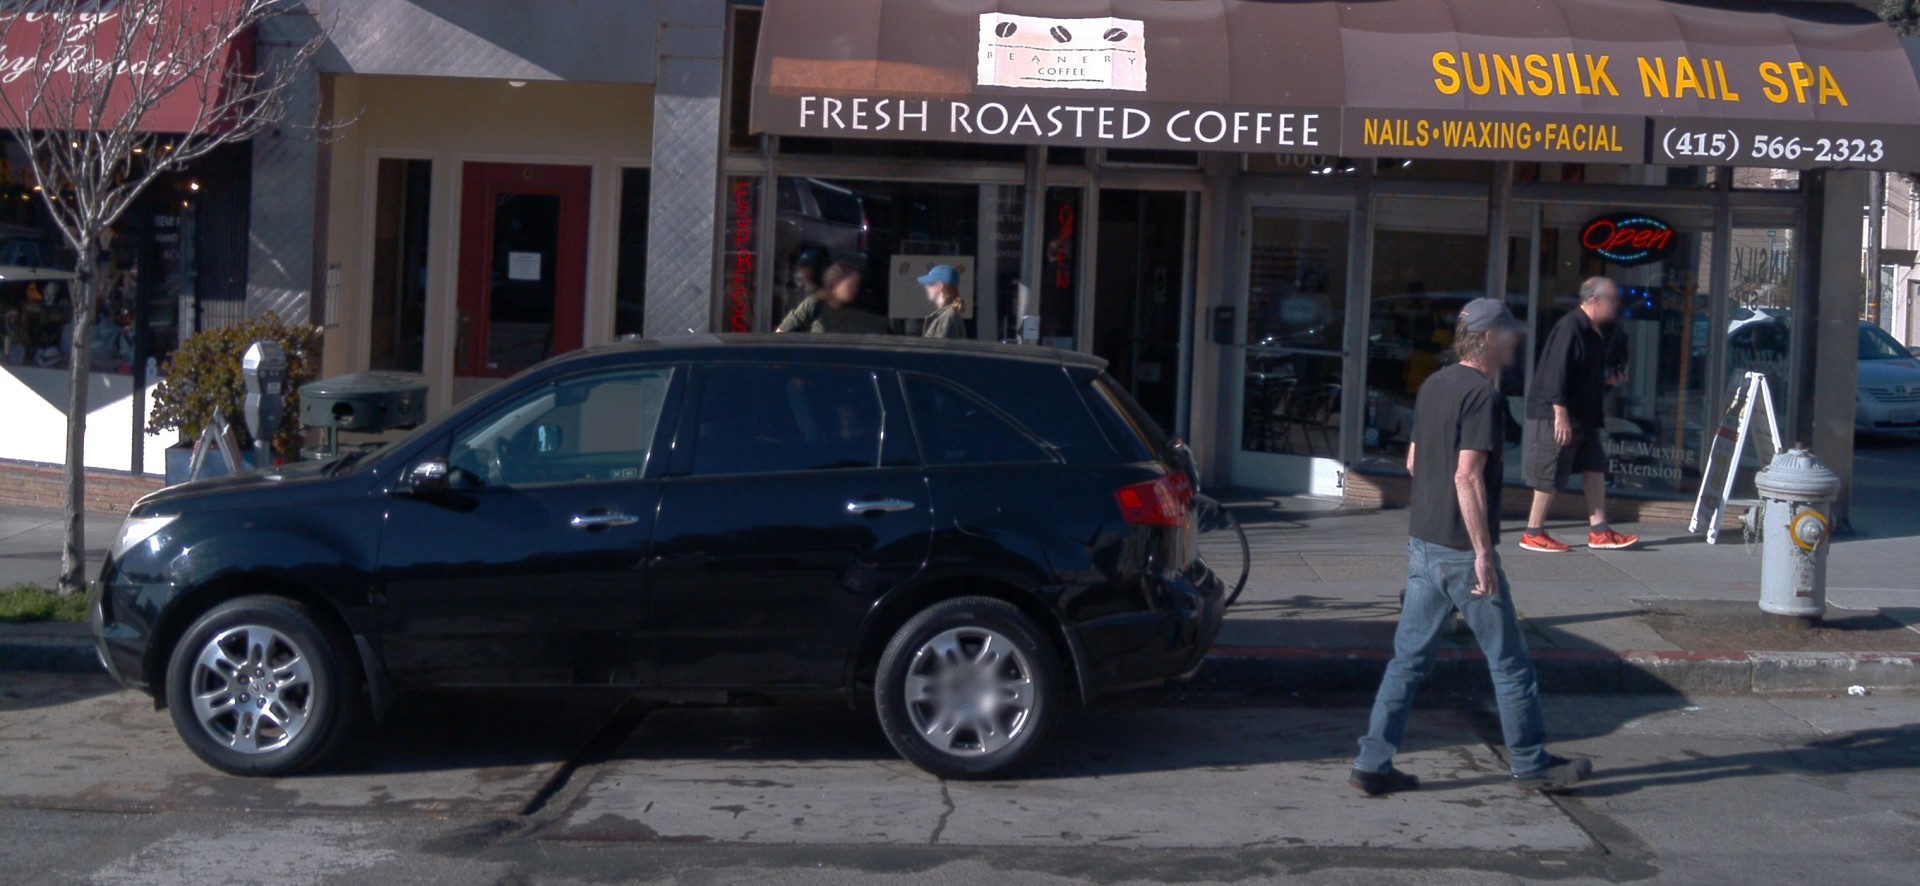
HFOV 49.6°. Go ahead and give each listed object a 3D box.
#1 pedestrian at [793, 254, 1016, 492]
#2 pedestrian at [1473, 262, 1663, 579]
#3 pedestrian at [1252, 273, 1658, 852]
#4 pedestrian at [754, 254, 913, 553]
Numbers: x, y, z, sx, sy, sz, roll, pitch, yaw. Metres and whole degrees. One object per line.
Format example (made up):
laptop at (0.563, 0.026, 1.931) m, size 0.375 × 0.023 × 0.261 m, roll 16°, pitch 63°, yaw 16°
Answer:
pedestrian at (-0.341, -0.485, 13.588) m, size 1.342 × 1.457 × 0.879 m, roll 1°, pitch 3°, yaw 4°
pedestrian at (3.799, -0.178, 13.043) m, size 0.936 × 1.876 × 0.932 m, roll 1°, pitch 2°, yaw 3°
pedestrian at (1.865, 0.373, 7.907) m, size 1.201 × 2.006 × 0.870 m, roll 0°, pitch 2°, yaw -20°
pedestrian at (-0.825, -0.293, 13.525) m, size 0.688 × 1.856 × 0.750 m, roll -1°, pitch 2°, yaw -43°
